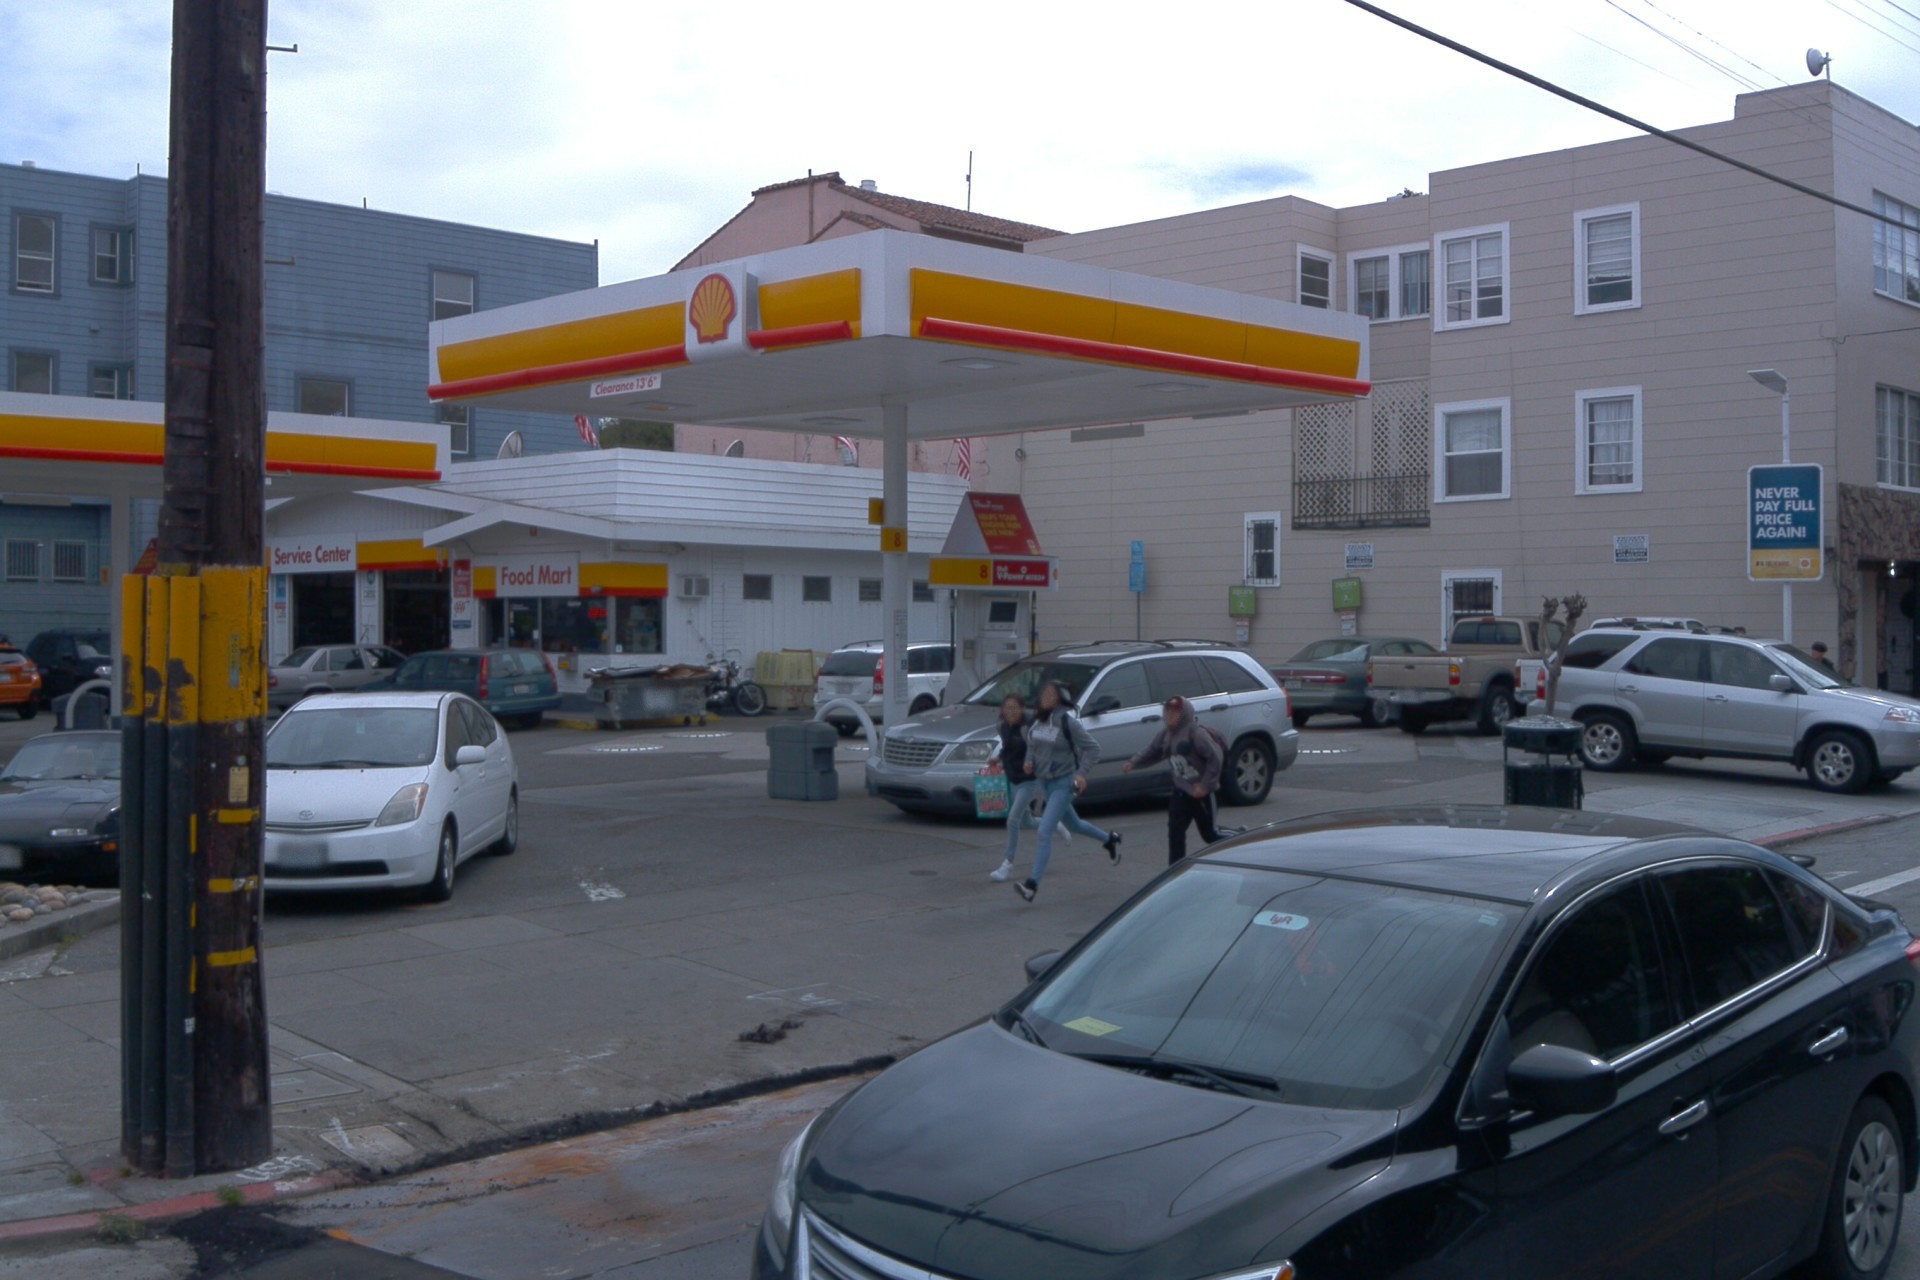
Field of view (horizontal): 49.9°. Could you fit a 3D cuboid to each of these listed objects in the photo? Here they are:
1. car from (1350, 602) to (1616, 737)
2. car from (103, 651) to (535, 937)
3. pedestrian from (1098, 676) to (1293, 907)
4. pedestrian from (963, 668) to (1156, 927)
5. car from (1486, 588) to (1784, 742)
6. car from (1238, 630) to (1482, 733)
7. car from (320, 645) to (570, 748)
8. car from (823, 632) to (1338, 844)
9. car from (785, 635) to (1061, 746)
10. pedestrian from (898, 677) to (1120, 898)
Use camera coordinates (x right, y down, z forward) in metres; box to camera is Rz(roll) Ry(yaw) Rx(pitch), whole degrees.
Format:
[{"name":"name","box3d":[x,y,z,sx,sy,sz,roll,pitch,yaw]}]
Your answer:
[{"name":"car","box3d":[8.125,0.389,31.861,4.381,1.940,1.937,-1,1,-43]},{"name":"car","box3d":[-4.772,1.049,16.139,2.104,1.810,4.502,0,1,-2]},{"name":"pedestrian","box3d":[1.819,1.128,15.922,1.166,1.643,0.960,-1,1,-43]},{"name":"pedestrian","box3d":[0.750,1.130,15.399,1.246,1.800,0.801,-1,1,-44]},{"name":"car","box3d":[10.125,0.293,30.709,2.174,2.100,5.192,1,1,44]},{"name":"car","box3d":[6.530,0.621,33.484,4.032,1.520,1.928,-1,1,-44]},{"name":"car","box3d":[-9.081,0.927,36.136,4.780,1.580,2.076,1,1,45]},{"name":"car","box3d":[1.309,0.850,20.535,5.073,1.780,2.142,-1,1,-41]},{"name":"car","box3d":[-0.505,0.736,32.945,1.958,1.570,4.580,1,1,38]},{"name":"pedestrian","box3d":[0.393,1.123,16.348,1.310,1.600,1.176,-1,1,-44]}]
